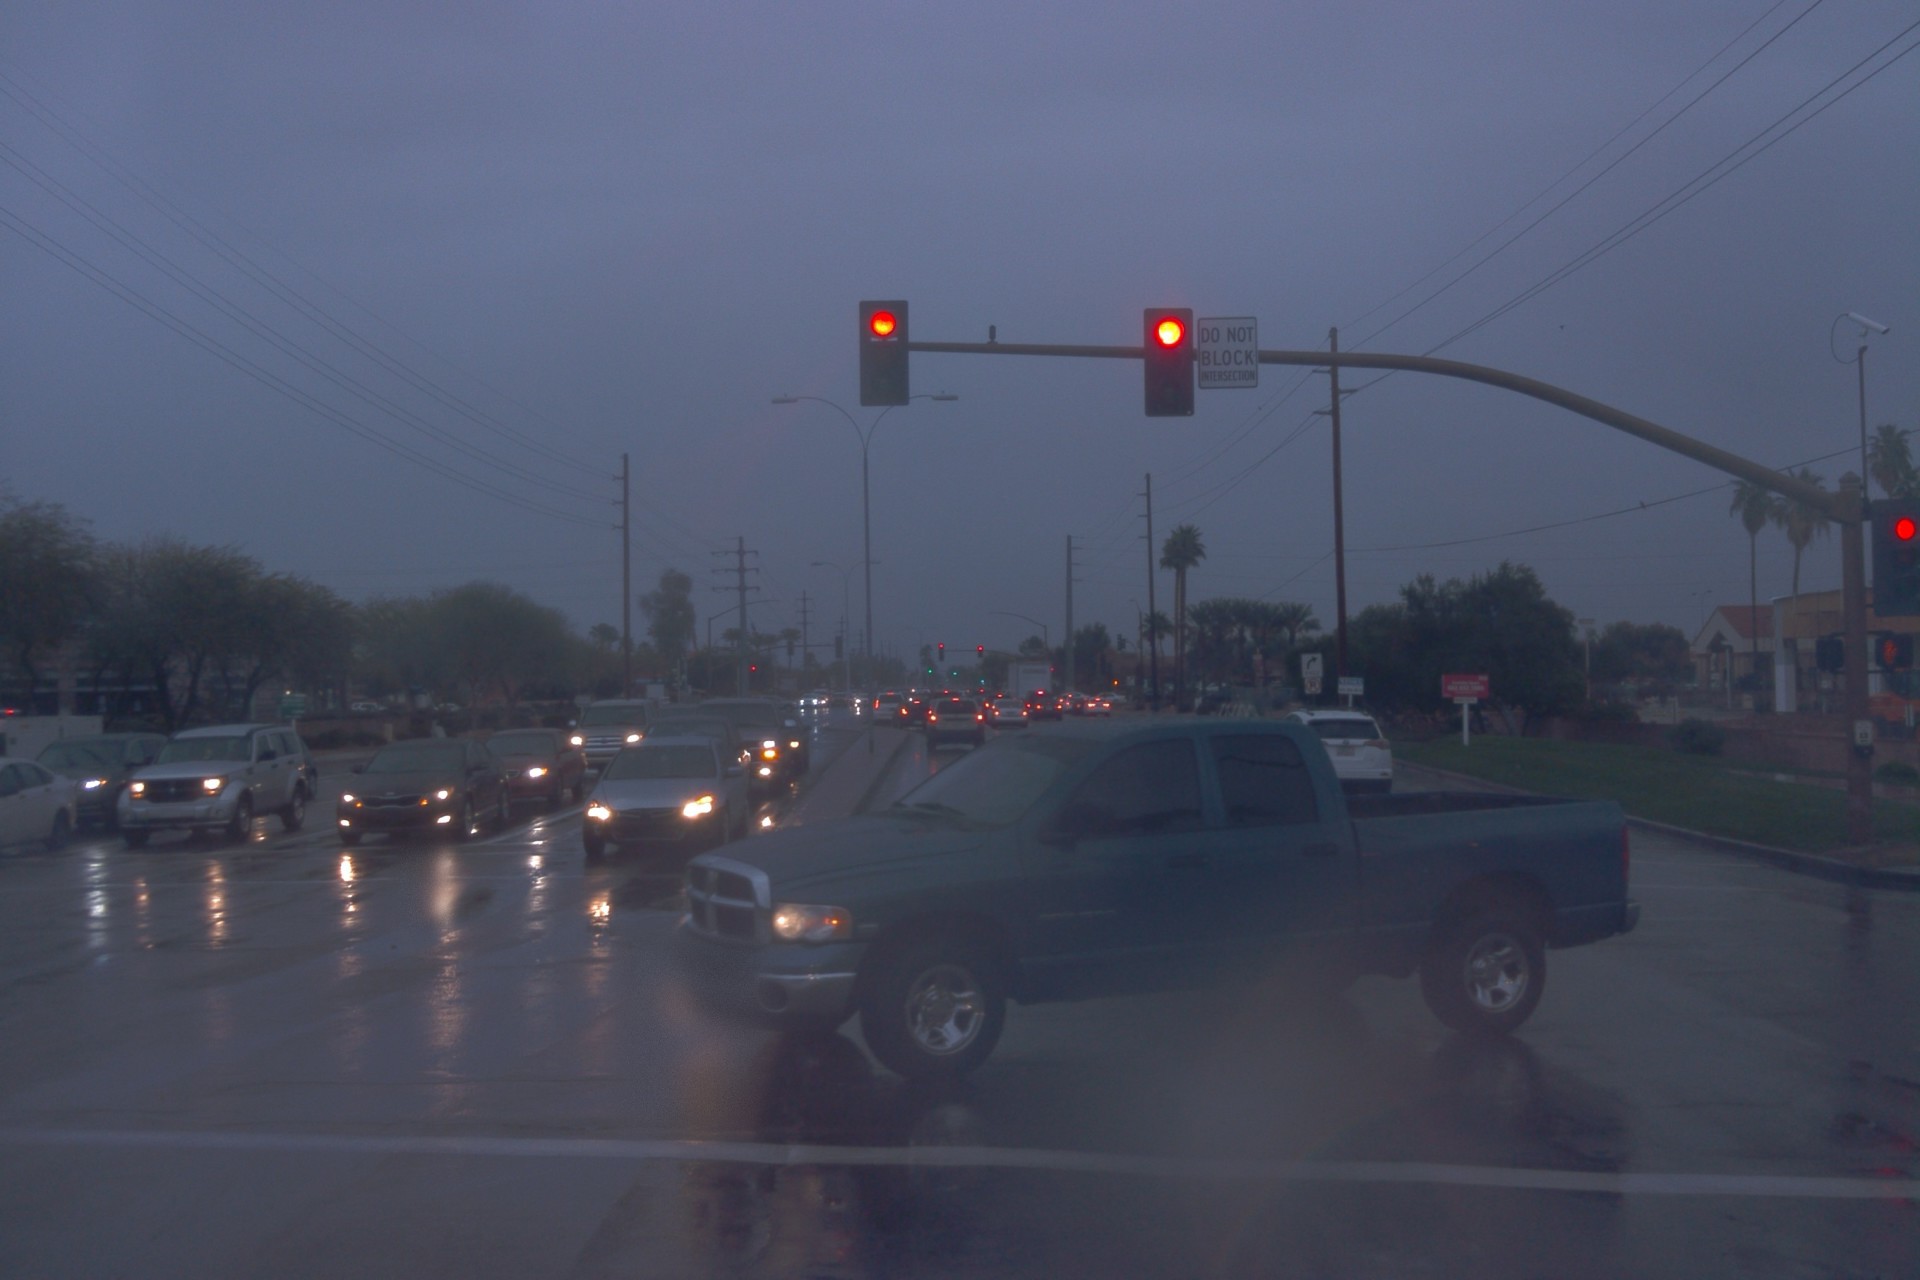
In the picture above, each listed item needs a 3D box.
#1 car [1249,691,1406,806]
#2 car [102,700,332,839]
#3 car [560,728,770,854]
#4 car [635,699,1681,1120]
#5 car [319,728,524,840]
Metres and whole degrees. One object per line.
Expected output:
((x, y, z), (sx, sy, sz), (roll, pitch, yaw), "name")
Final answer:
((6.590, 1.902, 37.716), (2.025, 1.940, 4.546), (0, -1, 0), "car")
((-11.711, 1.987, 33.082), (2.052, 2.020, 4.497), (0, -1, 0), "car")
((-3.797, 1.933, 27.539), (2.102, 1.410, 4.605), (0, -1, 1), "car")
((1.211, 1.379, 12.450), (5.784, 2.000, 2.426), (0, -1, -25), "car")
((-8.043, 2.116, 31.496), (2.042, 1.440, 4.763), (0, -1, -2), "car")
